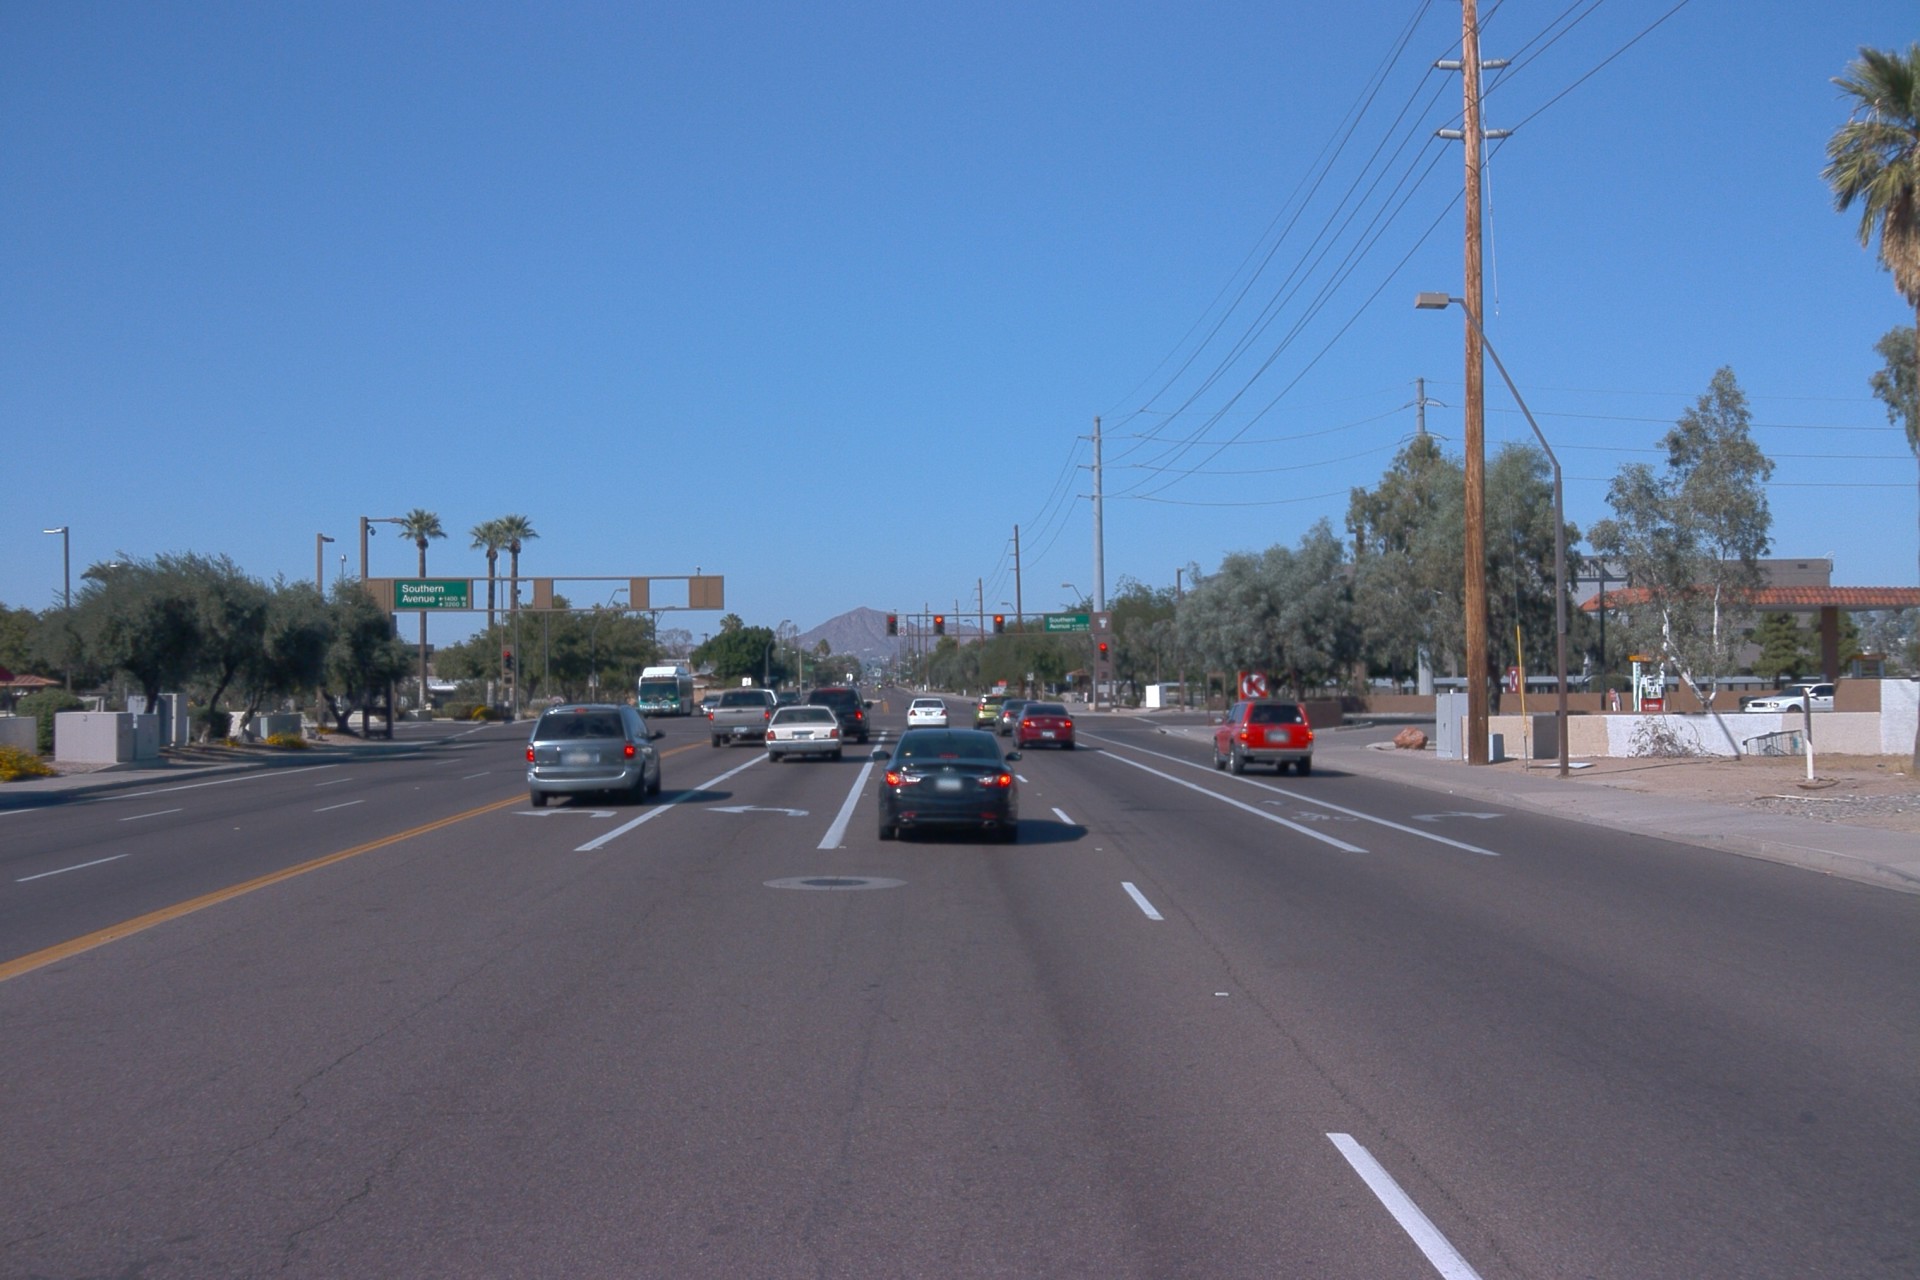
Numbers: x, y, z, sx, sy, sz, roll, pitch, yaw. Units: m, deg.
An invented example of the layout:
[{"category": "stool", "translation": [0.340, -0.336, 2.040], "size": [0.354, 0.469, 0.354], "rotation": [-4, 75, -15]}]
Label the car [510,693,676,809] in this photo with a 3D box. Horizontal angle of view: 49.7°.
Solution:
[{"category": "car", "translation": [-6.373, 1.889, 36.523], "size": [2.263, 1.880, 4.995], "rotation": [0, -1, -3]}]

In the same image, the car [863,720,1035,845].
[{"category": "car", "translation": [-0.164, 1.884, 28.442], "size": [2.156, 1.470, 4.806], "rotation": [0, -1, -1]}]
